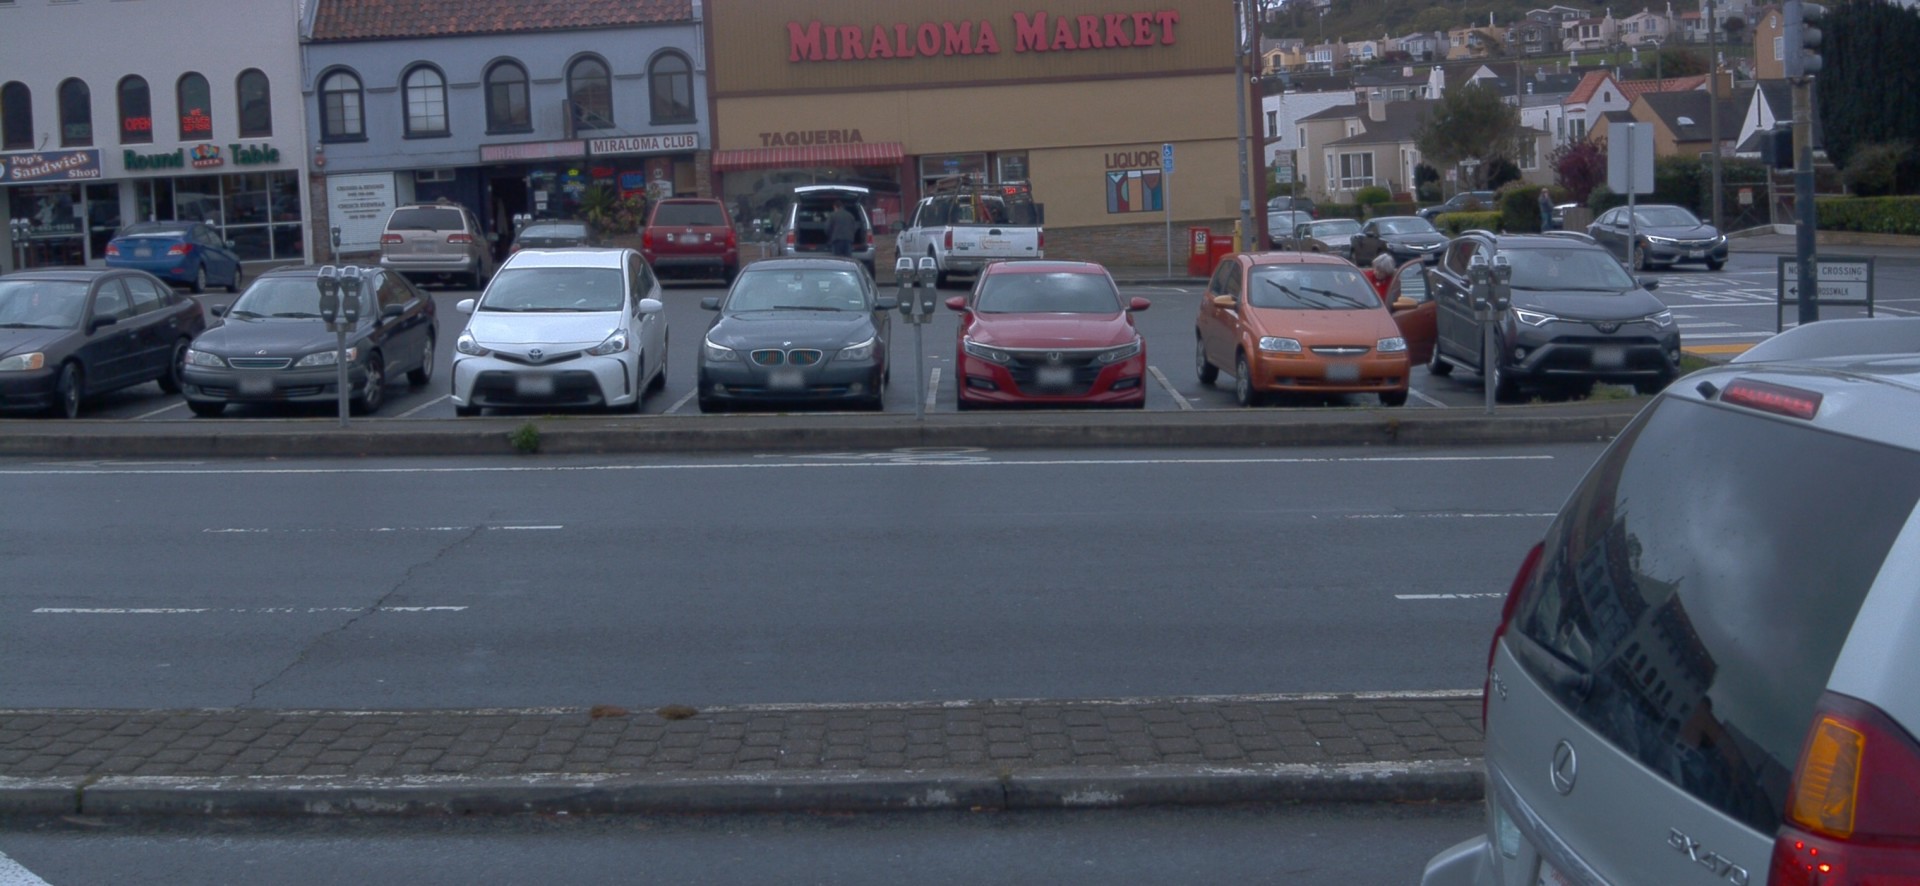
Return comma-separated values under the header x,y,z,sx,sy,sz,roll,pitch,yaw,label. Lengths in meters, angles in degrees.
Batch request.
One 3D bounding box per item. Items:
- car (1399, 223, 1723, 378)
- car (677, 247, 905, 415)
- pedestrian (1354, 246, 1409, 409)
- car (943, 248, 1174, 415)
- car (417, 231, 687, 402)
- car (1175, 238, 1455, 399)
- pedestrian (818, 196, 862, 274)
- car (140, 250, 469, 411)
x,y,z,sx,sy,sz,roll,pitch,yaw,label
6.398,-1.643,22.574,2.205,1.461,4.580,0,6,0,car
-1.648,-1.265,21.660,2.112,1.461,4.574,0,6,-1,car
4.451,-1.232,21.809,0.463,1.696,0.418,0,2,-6,pedestrian
0.915,-1.275,21.831,2.185,1.461,4.636,0,6,-1,car
-4.059,-1.408,21.310,2.132,1.491,4.678,0,6,-4,car
3.623,-1.395,21.801,2.049,1.462,4.037,0,6,-4,car
-2.272,-3.932,38.956,0.705,1.457,0.722,-1,2,-14,pedestrian
-6.709,-1.275,21.706,2.023,1.392,4.712,0,6,-1,car
